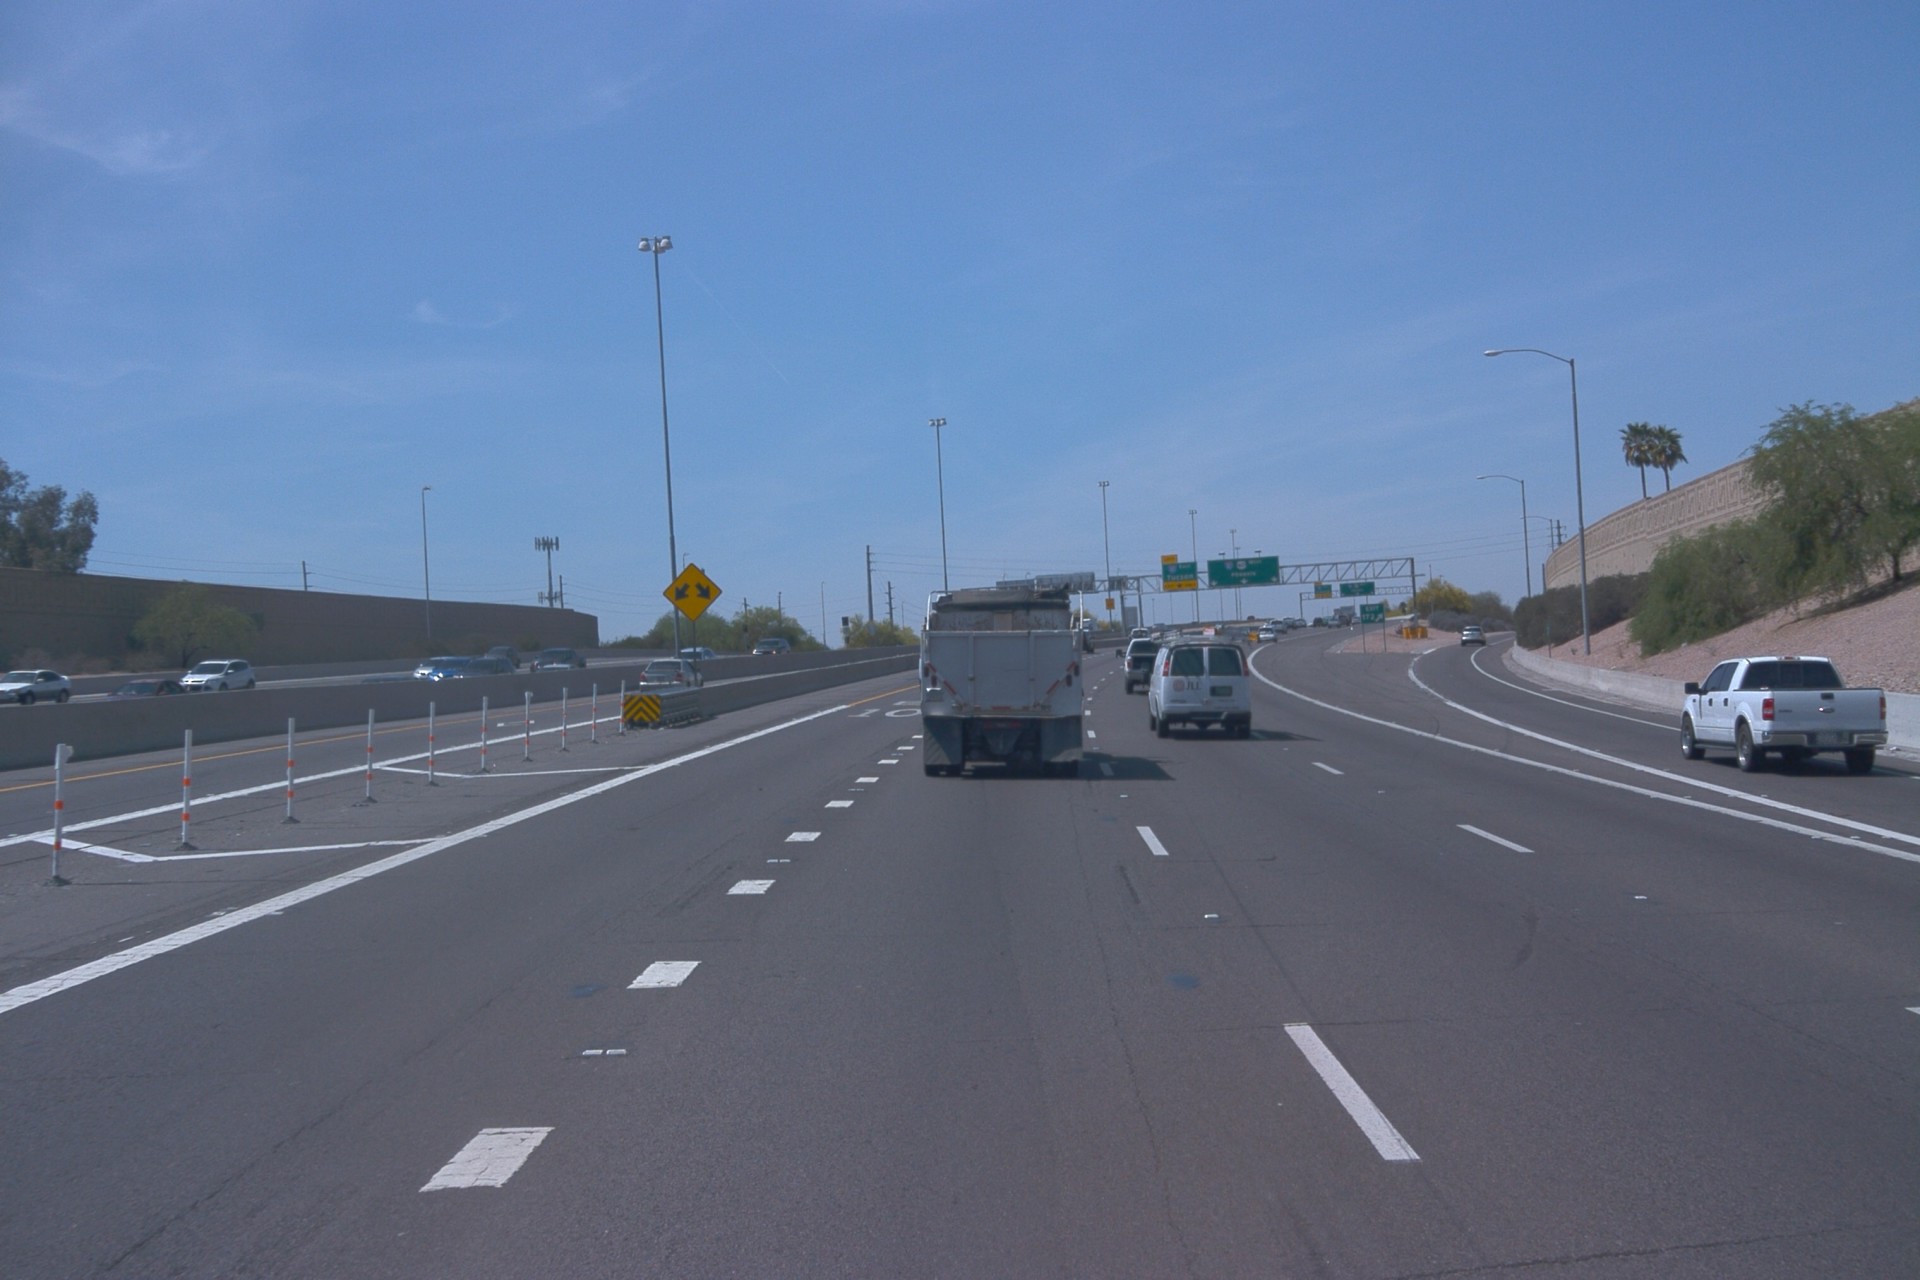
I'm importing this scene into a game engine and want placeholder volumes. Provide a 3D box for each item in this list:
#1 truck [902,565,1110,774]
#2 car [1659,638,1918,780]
[{"bbox_3d":[0.824,0.461,34.684,3.162,3.170,6.476,0,0,2],"label":"truck"},{"bbox_3d":[13.779,1.080,34.896,2.519,2.190,5.661,0,0,5],"label":"car"}]
